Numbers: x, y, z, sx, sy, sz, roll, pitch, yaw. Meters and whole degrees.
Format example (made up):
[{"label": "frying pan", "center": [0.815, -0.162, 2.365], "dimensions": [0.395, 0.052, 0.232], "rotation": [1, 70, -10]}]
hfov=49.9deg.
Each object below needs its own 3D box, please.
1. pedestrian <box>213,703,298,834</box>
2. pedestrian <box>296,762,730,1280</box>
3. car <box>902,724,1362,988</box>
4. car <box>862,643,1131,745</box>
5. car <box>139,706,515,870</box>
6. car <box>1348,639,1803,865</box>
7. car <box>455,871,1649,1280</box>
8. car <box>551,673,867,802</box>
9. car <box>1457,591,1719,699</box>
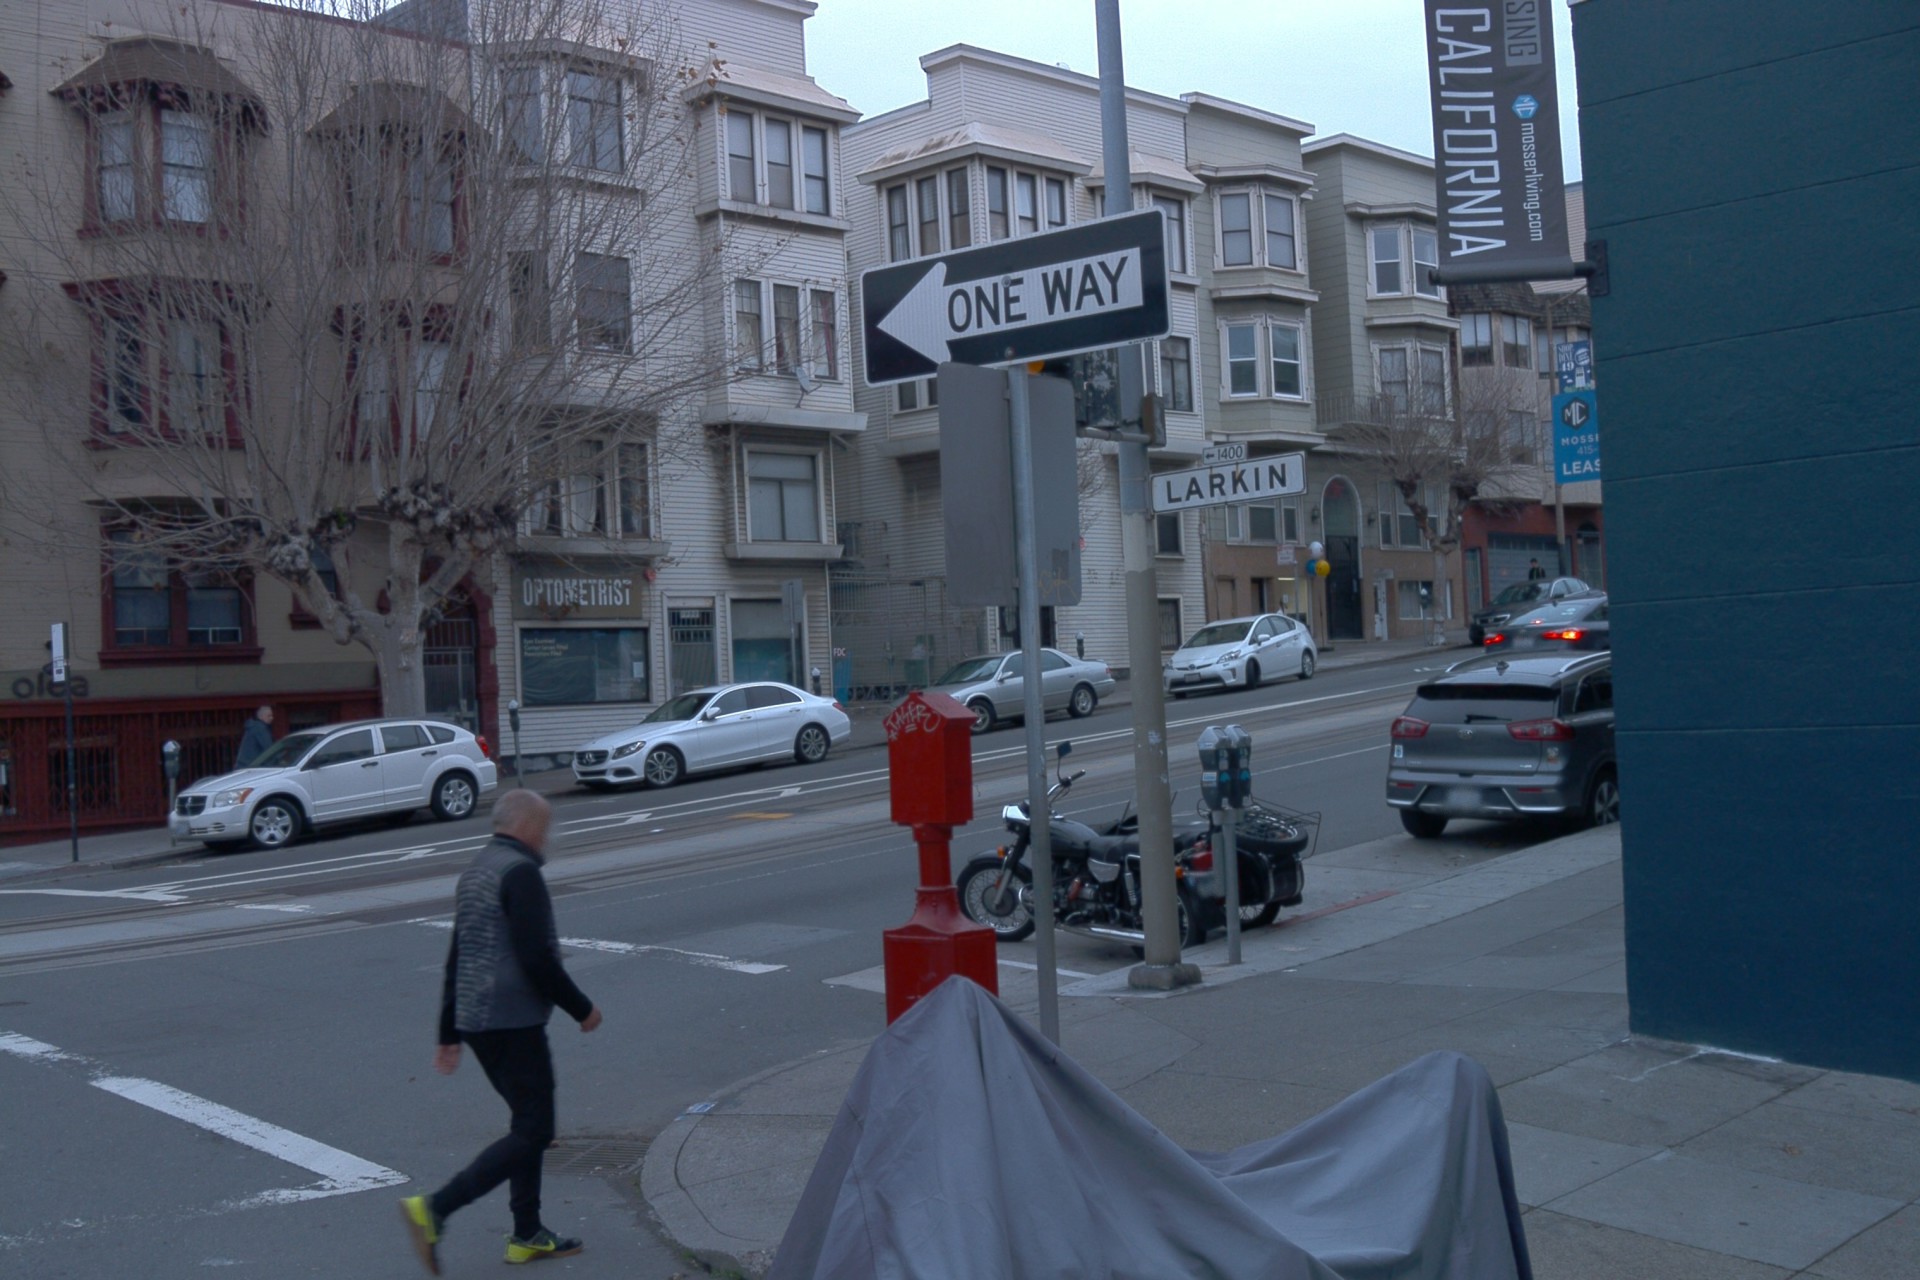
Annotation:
[{"label": "pedestrian", "center": [-10.359, 1.868, 30.381], "dimensions": [0.901, 1.830, 0.921], "rotation": [-1, 1, -40]}, {"label": "pedestrian", "center": [-1.587, 1.341, 7.365], "dimensions": [1.241, 1.716, 0.884], "rotation": [-1, 1, -38]}, {"label": "car", "center": [1.135, 1.373, 14.055], "dimensions": [2.745, 1.460, 1.540], "rotation": [0, 1, 42]}, {"label": "car", "center": [0.716, 0.905, 37.121], "dimensions": [4.801, 1.657, 2.084], "rotation": [-1, 1, -45]}, {"label": "car", "center": [-8.479, 1.909, 27.921], "dimensions": [2.053, 1.847, 4.407], "rotation": [1, 1, 44]}, {"label": "car", "center": [5.647, 0.876, 18.583], "dimensions": [2.132, 1.717, 4.606], "rotation": [0, 1, 42]}, {"label": "car", "center": [0.333, 1.391, 4.287], "dimensions": [2.490, 1.520, 1.048], "rotation": [-1, 1, -44]}, {"label": "car", "center": [-3.868, 1.454, 32.362], "dimensions": [4.589, 1.757, 2.074], "rotation": [-1, 1, -44]}, {"label": "car", "center": [10.026, 0.051, 32.785], "dimensions": [2.086, 1.600, 4.565], "rotation": [1, 1, 45]}]
